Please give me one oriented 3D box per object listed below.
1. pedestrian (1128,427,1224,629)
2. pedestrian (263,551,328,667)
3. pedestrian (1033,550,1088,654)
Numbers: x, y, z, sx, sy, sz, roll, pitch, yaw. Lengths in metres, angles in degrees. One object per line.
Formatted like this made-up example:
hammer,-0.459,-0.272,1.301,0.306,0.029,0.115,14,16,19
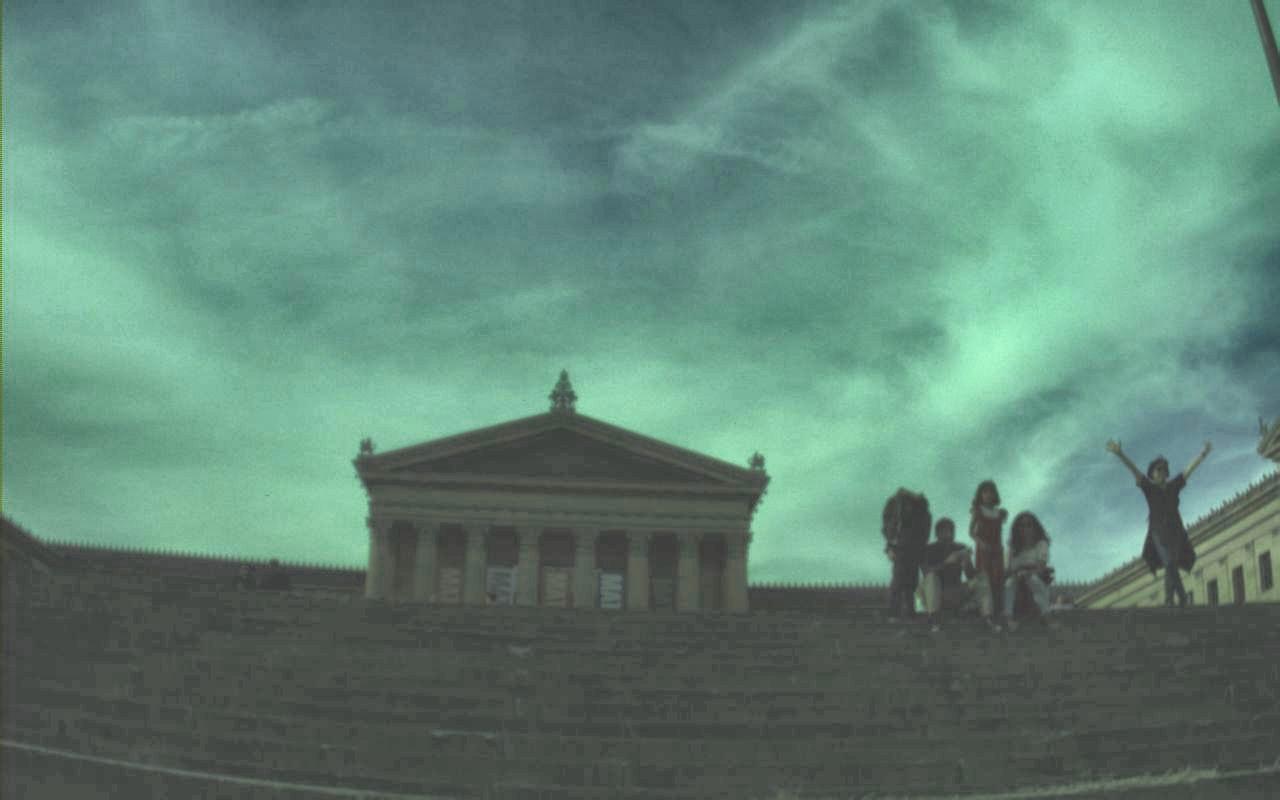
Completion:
pedestrian,5.284,1.263,11.444,0.669,1.910,0.697,0,0,-5
pedestrian,-5.825,3.534,20.250,0.769,1.815,0.763,1,0,40
pedestrian,7.954,3.857,22.532,0.708,1.851,0.689,0,0,-18
